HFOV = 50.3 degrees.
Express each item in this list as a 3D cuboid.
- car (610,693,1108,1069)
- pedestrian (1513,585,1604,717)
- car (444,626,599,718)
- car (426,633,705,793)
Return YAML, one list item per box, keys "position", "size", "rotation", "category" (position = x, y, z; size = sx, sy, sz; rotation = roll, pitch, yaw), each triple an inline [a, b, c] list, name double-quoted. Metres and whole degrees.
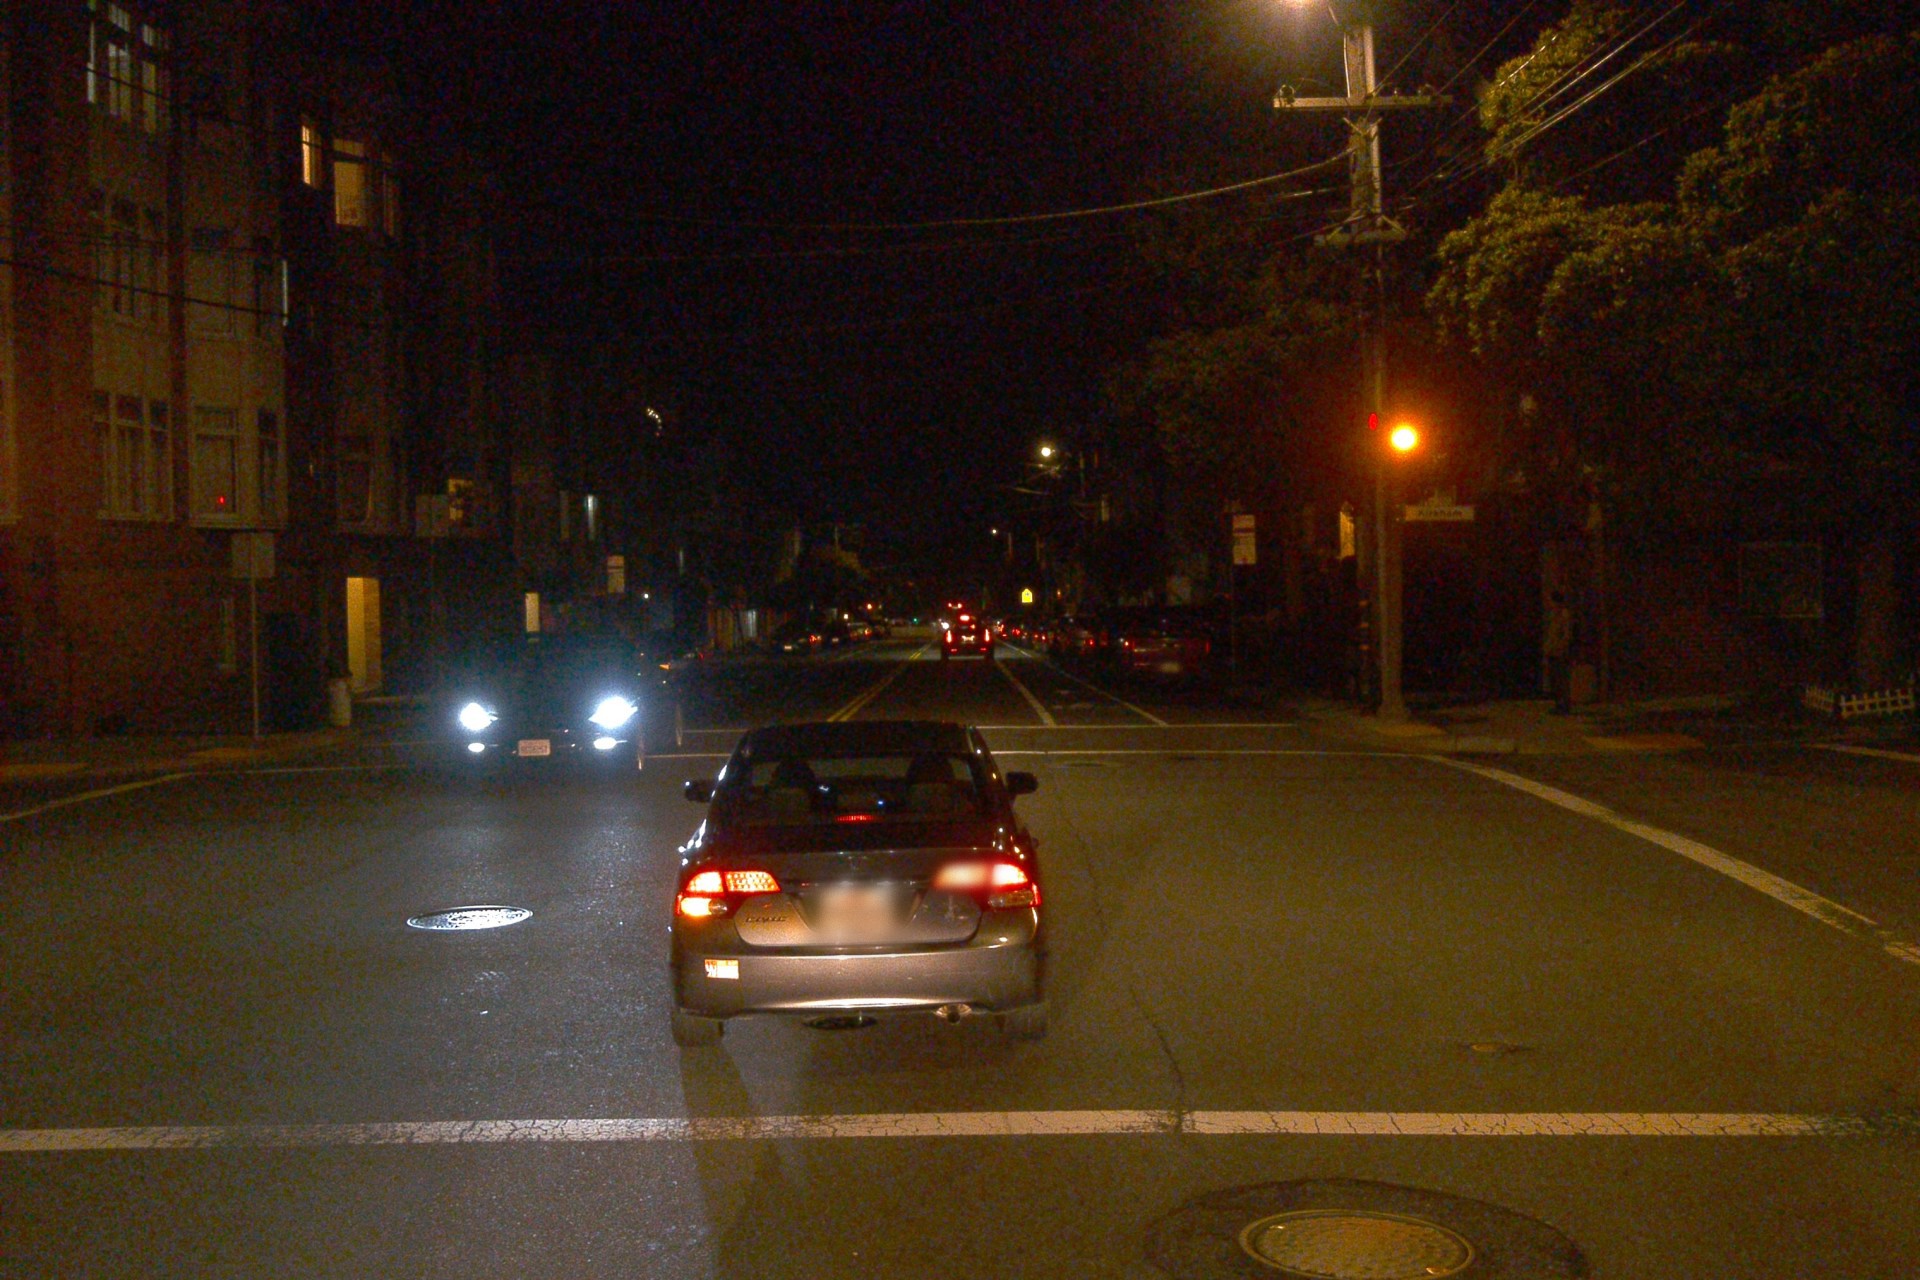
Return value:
- position: [-0.501, 1.073, 10.855]
  size: [2.070, 1.420, 4.588]
  rotation: [0, 0, -2]
  category: "car"
- position: [7.826, 0.141, 26.727]
  size: [0.936, 1.691, 0.623]
  rotation: [0, 0, -16]
  category: "pedestrian"
- position: [-7.902, 0.539, 37.178]
  size: [1.948, 1.580, 4.098]
  rotation: [1, 0, 0]
  category: "car"
- position: [-4.196, 0.711, 22.554]
  size: [2.150, 1.560, 4.641]
  rotation: [1, 0, 0]
  category: "car"
